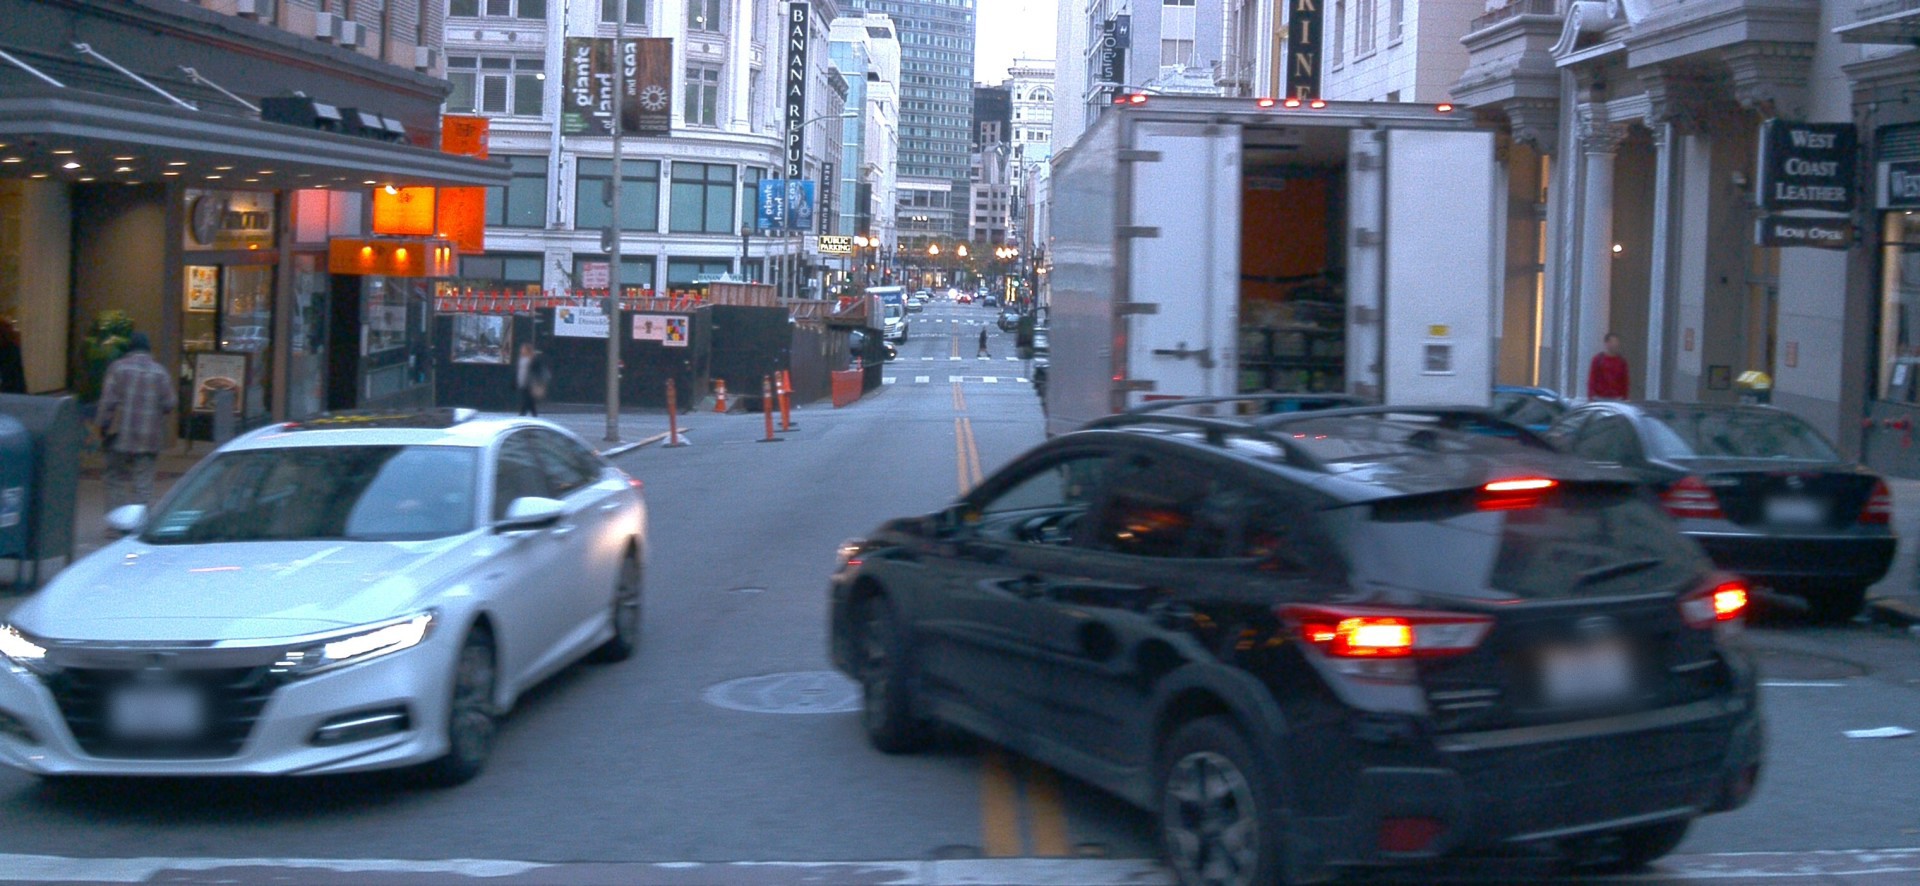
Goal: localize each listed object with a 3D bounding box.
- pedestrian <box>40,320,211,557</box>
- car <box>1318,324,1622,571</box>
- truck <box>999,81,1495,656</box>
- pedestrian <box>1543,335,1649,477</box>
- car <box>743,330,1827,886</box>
[{"bbox_3d":[-7.274,-0.086,17.901,1.196,1.905,1.107,-1,2,-32],"label":"pedestrian"},{"bbox_3d":[4.843,-0.084,20.173,2.058,1.970,4.320,0,5,2],"label":"car"},{"bbox_3d":[2.009,-0.871,17.418,2.877,3.828,7.275,0,5,-3],"label":"truck"},{"bbox_3d":[8.900,-0.541,28.785,1.121,1.900,1.056,0,1,-3],"label":"pedestrian"},{"bbox_3d":[0.898,0.619,8.191,2.140,1.914,4.421,-2,5,-26],"label":"car"}]
